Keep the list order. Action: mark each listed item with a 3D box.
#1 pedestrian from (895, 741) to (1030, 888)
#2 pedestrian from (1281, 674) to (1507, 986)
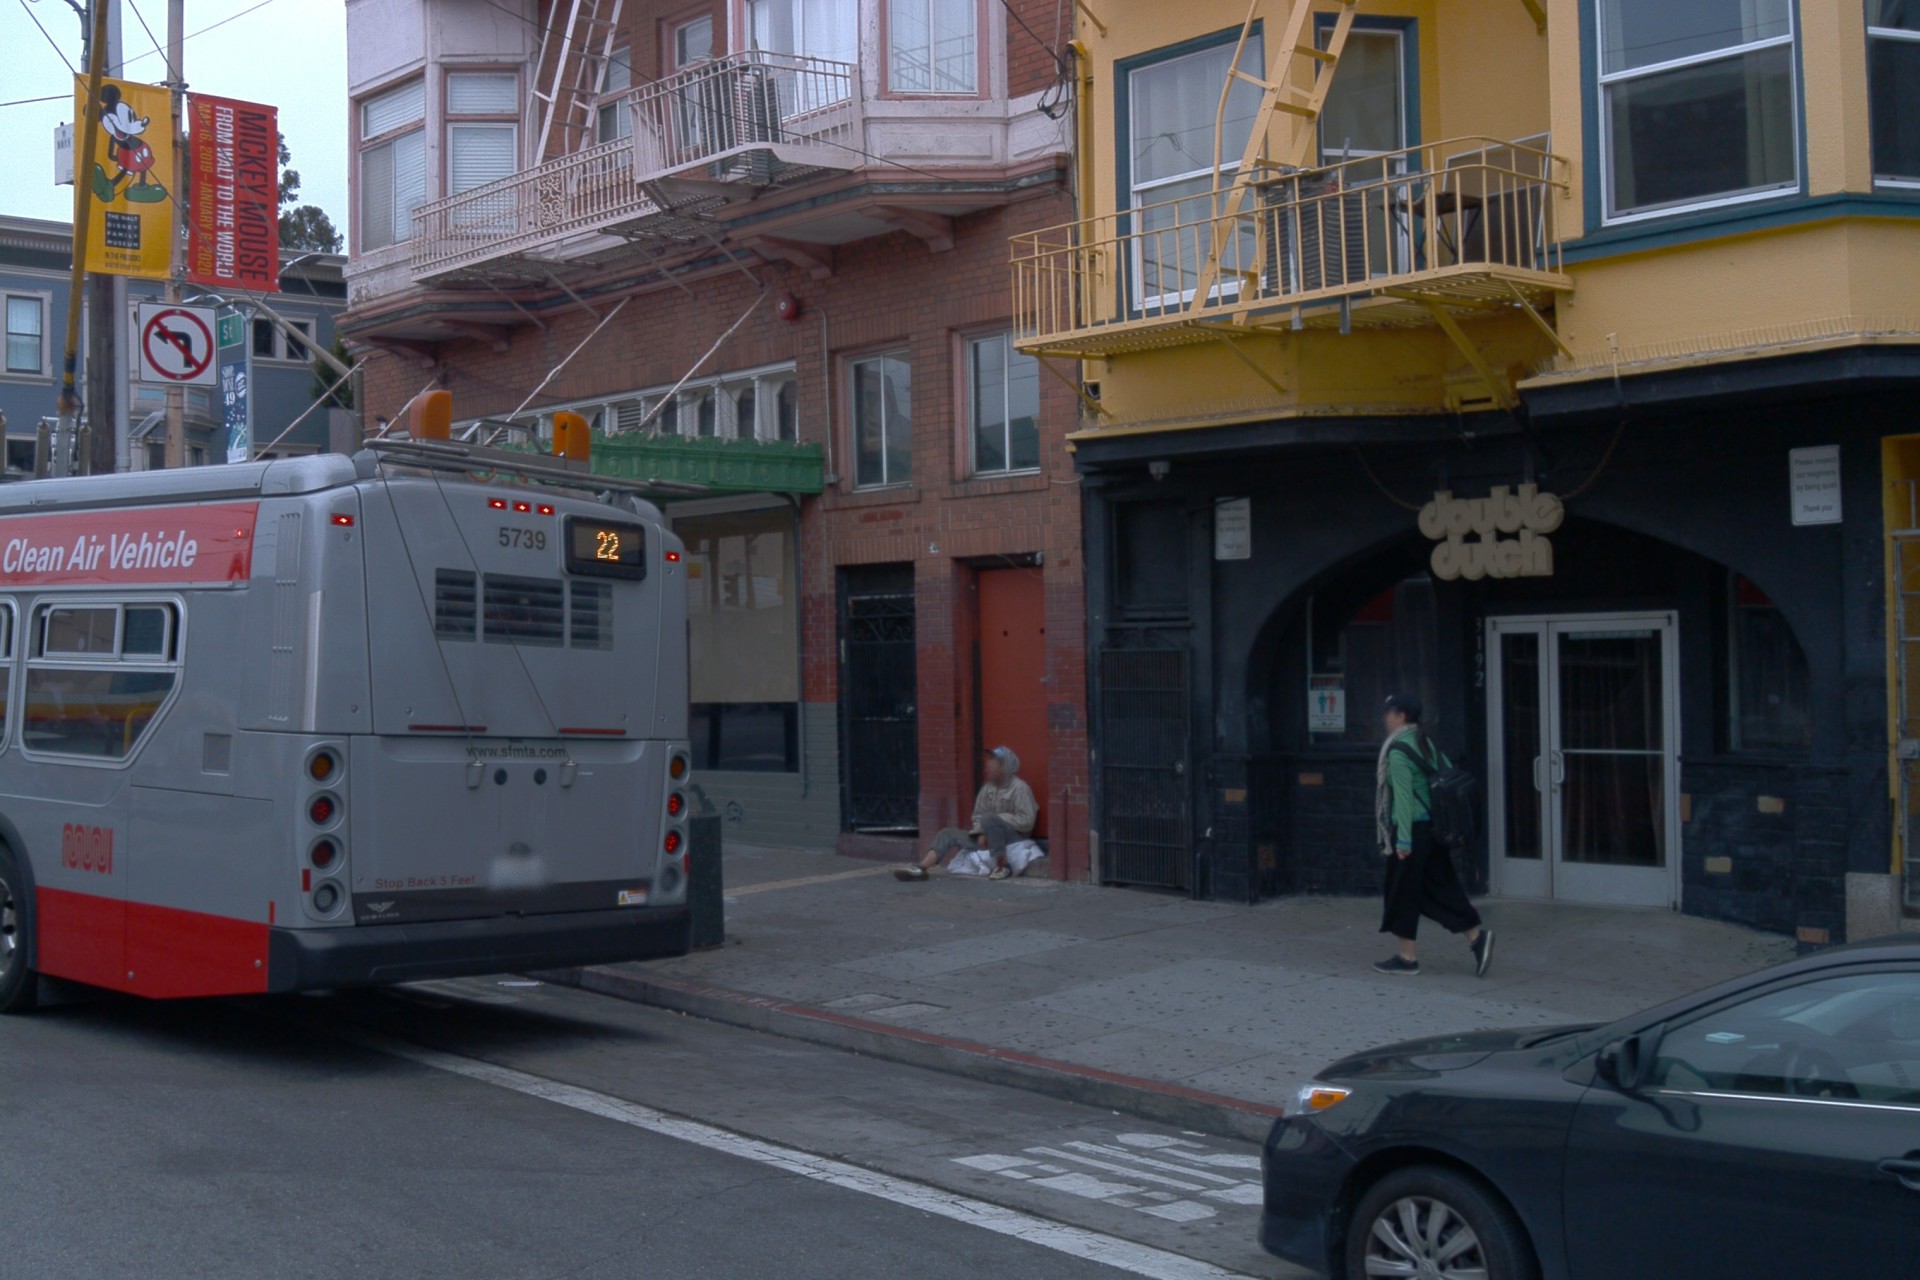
[{"bbox_3d":[0.020,1.401,16.807,0.811,1.100,0.736,1,1,44],"label":"pedestrian"},{"bbox_3d":[2.623,1.097,12.466,1.077,1.750,0.910,0,1,33],"label":"pedestrian"}]
